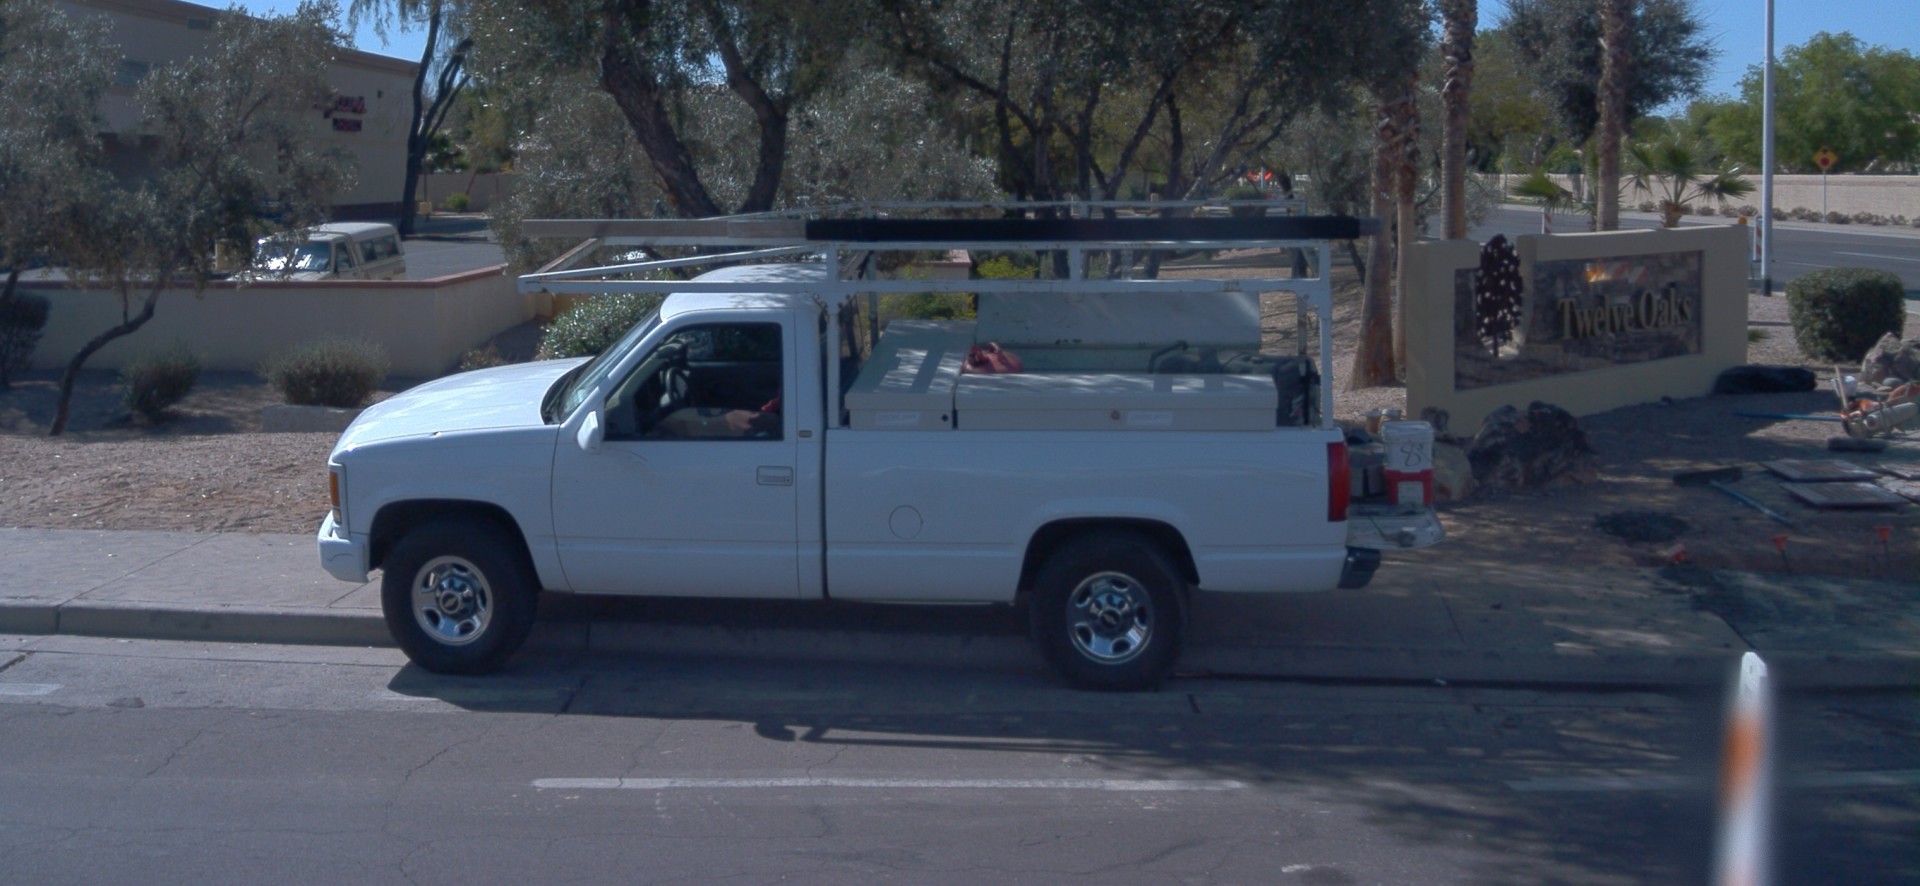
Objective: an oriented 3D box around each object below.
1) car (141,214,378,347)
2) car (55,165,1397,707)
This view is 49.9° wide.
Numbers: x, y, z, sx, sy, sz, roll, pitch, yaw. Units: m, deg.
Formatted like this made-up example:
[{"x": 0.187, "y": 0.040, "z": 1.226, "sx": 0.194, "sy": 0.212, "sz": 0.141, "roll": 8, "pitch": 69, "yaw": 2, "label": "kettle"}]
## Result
[{"x": -10.691, "y": -2.585, "z": 31.866, "sx": 2.007, "sy": 1.860, "sz": 4.657, "roll": 0, "pitch": 6, "yaw": 1, "label": "car"}, {"x": -1.016, "y": -0.205, "z": 10.327, "sx": 5.981, "sy": 2.293, "sz": 2.507, "roll": 1, "pitch": 4, "yaw": 5, "label": "car"}]
